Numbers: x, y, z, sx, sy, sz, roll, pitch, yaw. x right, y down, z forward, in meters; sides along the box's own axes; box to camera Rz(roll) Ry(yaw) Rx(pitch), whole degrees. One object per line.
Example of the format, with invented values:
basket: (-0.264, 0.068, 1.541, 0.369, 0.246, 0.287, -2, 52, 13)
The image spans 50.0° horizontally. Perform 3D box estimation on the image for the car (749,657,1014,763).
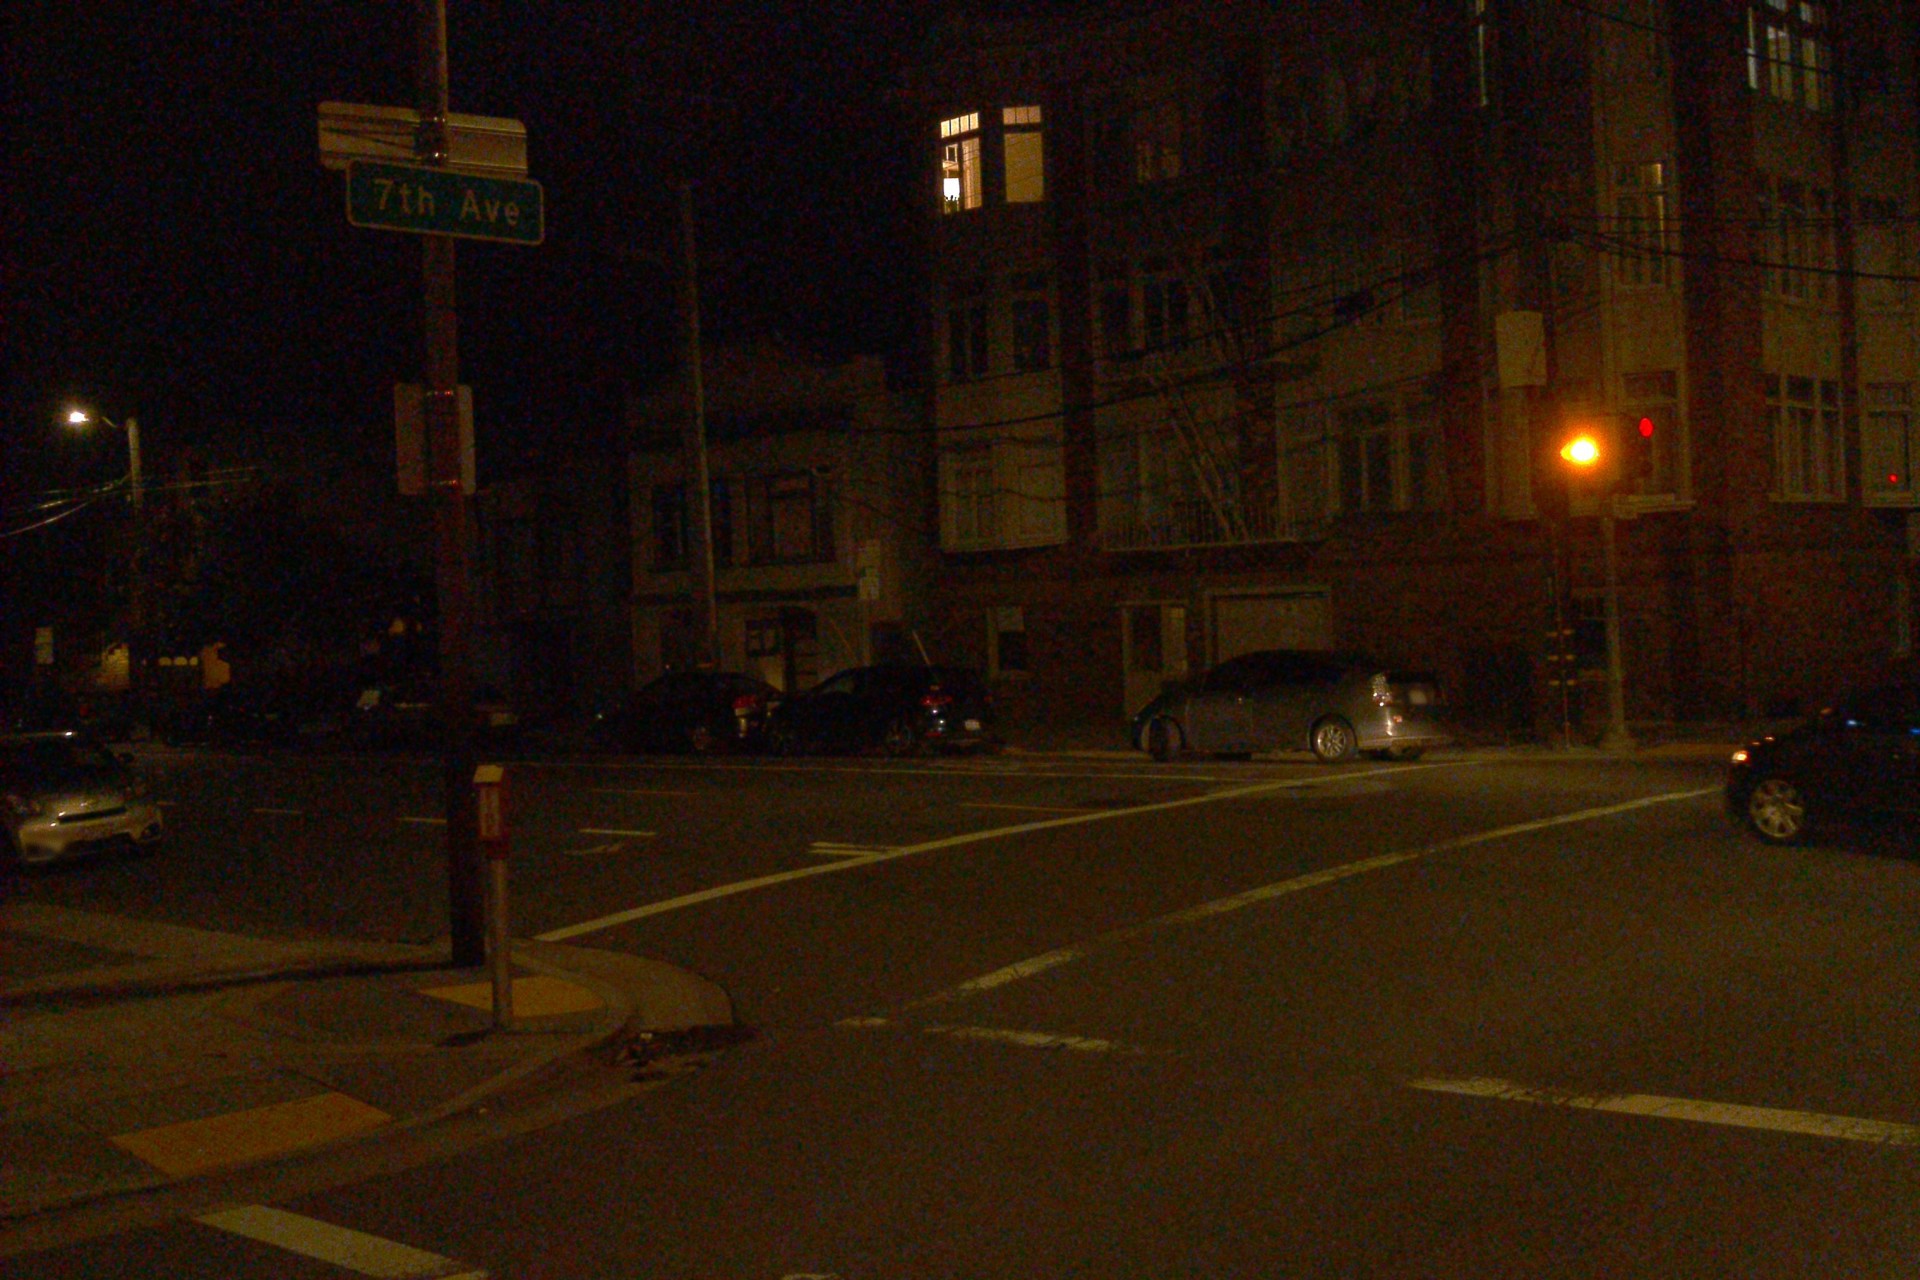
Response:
car: (-1.298, 1.053, 32.500, 4.150, 1.470, 1.786, 1, 1, 43)

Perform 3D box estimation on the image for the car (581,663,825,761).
car: (-4.510, 1.202, 35.768, 4.298, 1.460, 1.941, 1, 1, 44)

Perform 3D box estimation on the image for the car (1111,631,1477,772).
car: (4.296, 0.730, 26.963, 1.933, 1.630, 4.458, -1, 1, -44)
